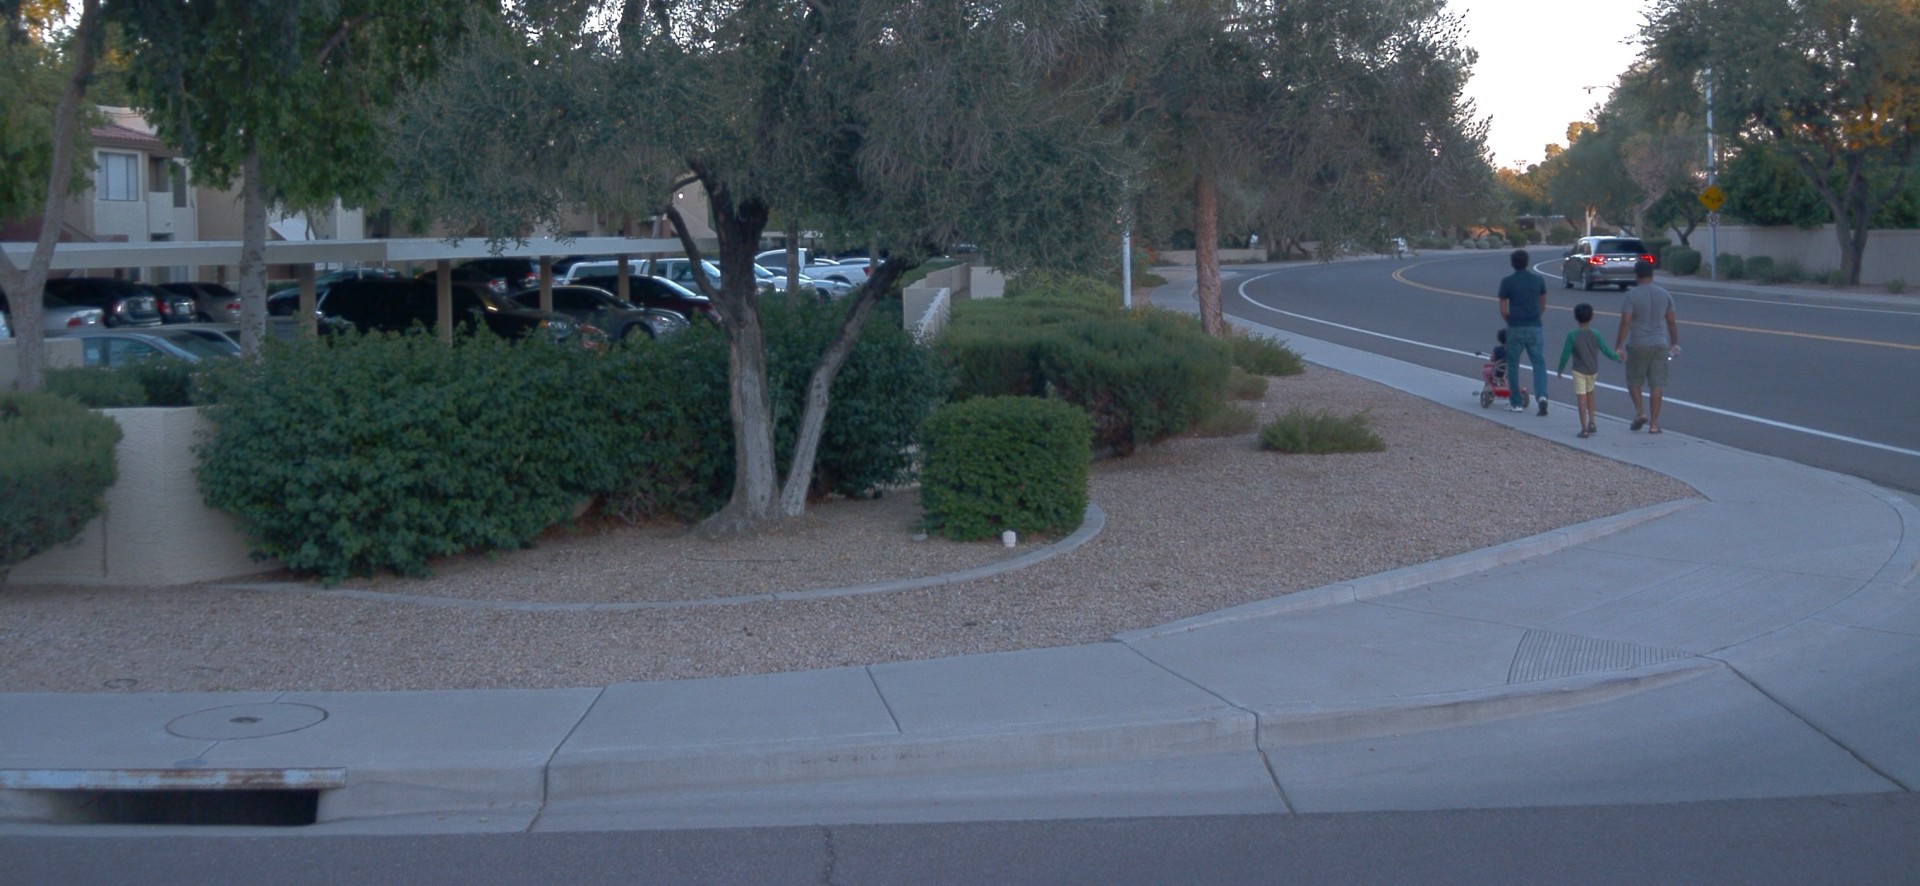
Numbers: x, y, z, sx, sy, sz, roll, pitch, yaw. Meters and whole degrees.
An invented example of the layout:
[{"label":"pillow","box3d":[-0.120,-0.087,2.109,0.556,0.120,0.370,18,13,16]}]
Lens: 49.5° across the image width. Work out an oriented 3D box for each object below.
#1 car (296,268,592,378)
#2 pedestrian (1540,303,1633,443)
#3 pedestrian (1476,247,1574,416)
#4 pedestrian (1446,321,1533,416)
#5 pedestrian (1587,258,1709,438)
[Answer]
[{"label":"car","box3d":[-9.414,-2.230,38.262,4.818,1.895,2.161,0,4,4]},{"label":"pedestrian","box3d":[6.051,-0.692,20.161,0.739,1.298,0.753,0,2,7]},{"label":"pedestrian","box3d":[6.135,-1.228,22.658,0.773,1.777,0.936,0,2,-3]},{"label":"pedestrian","box3d":[5.973,-0.854,23.535,0.628,0.977,1.071,-1,4,-6]},{"label":"pedestrian","box3d":[6.692,-0.944,20.307,0.900,1.687,0.958,0,2,2]}]
